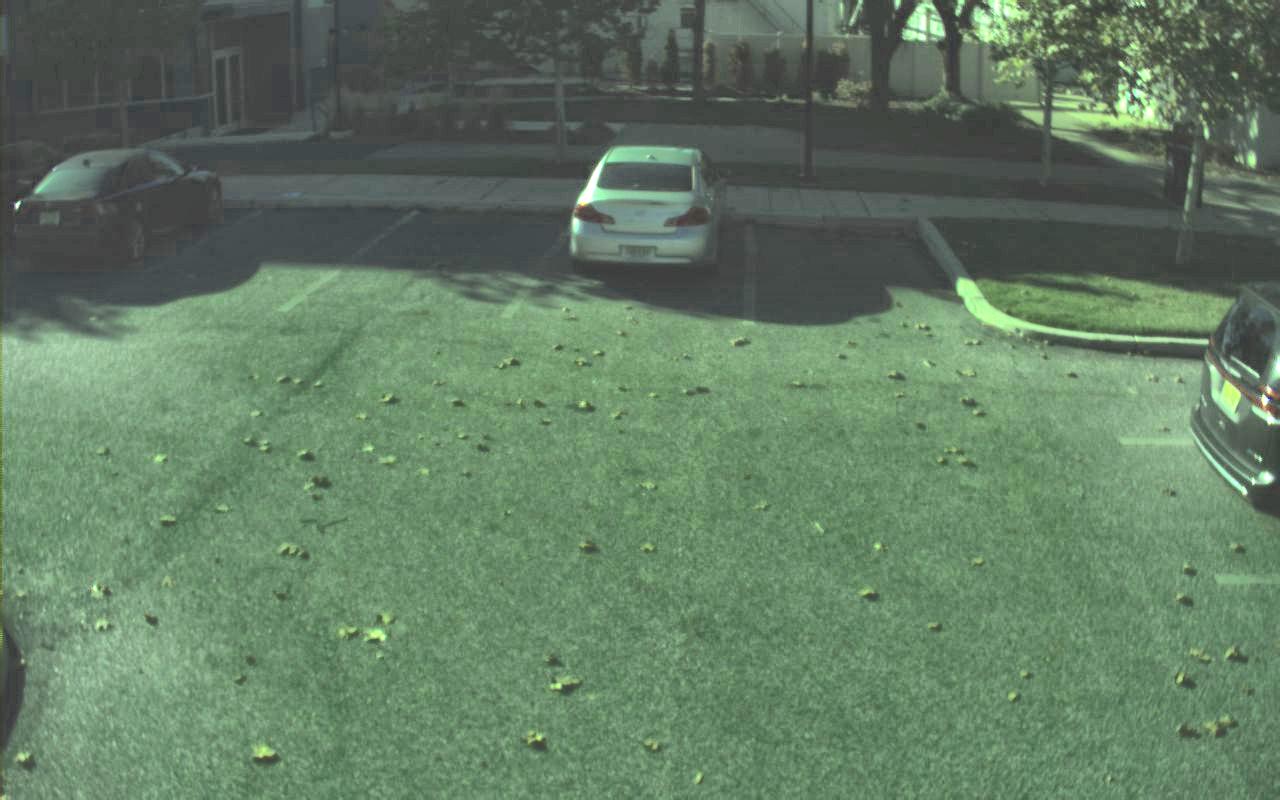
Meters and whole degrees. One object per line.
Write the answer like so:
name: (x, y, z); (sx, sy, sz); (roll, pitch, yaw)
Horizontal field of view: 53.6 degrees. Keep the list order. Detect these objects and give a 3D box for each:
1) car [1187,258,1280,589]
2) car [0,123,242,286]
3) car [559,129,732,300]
car: (6.437, 0.093, 7.849); (4.457, 1.691, 2.008); (1, 16, 8)
car: (-7.593, -2.933, 16.929); (1.989, 1.604, 4.689); (0, 17, 5)
car: (0.219, -2.526, 16.187); (1.909, 1.558, 4.388); (0, 17, 4)
